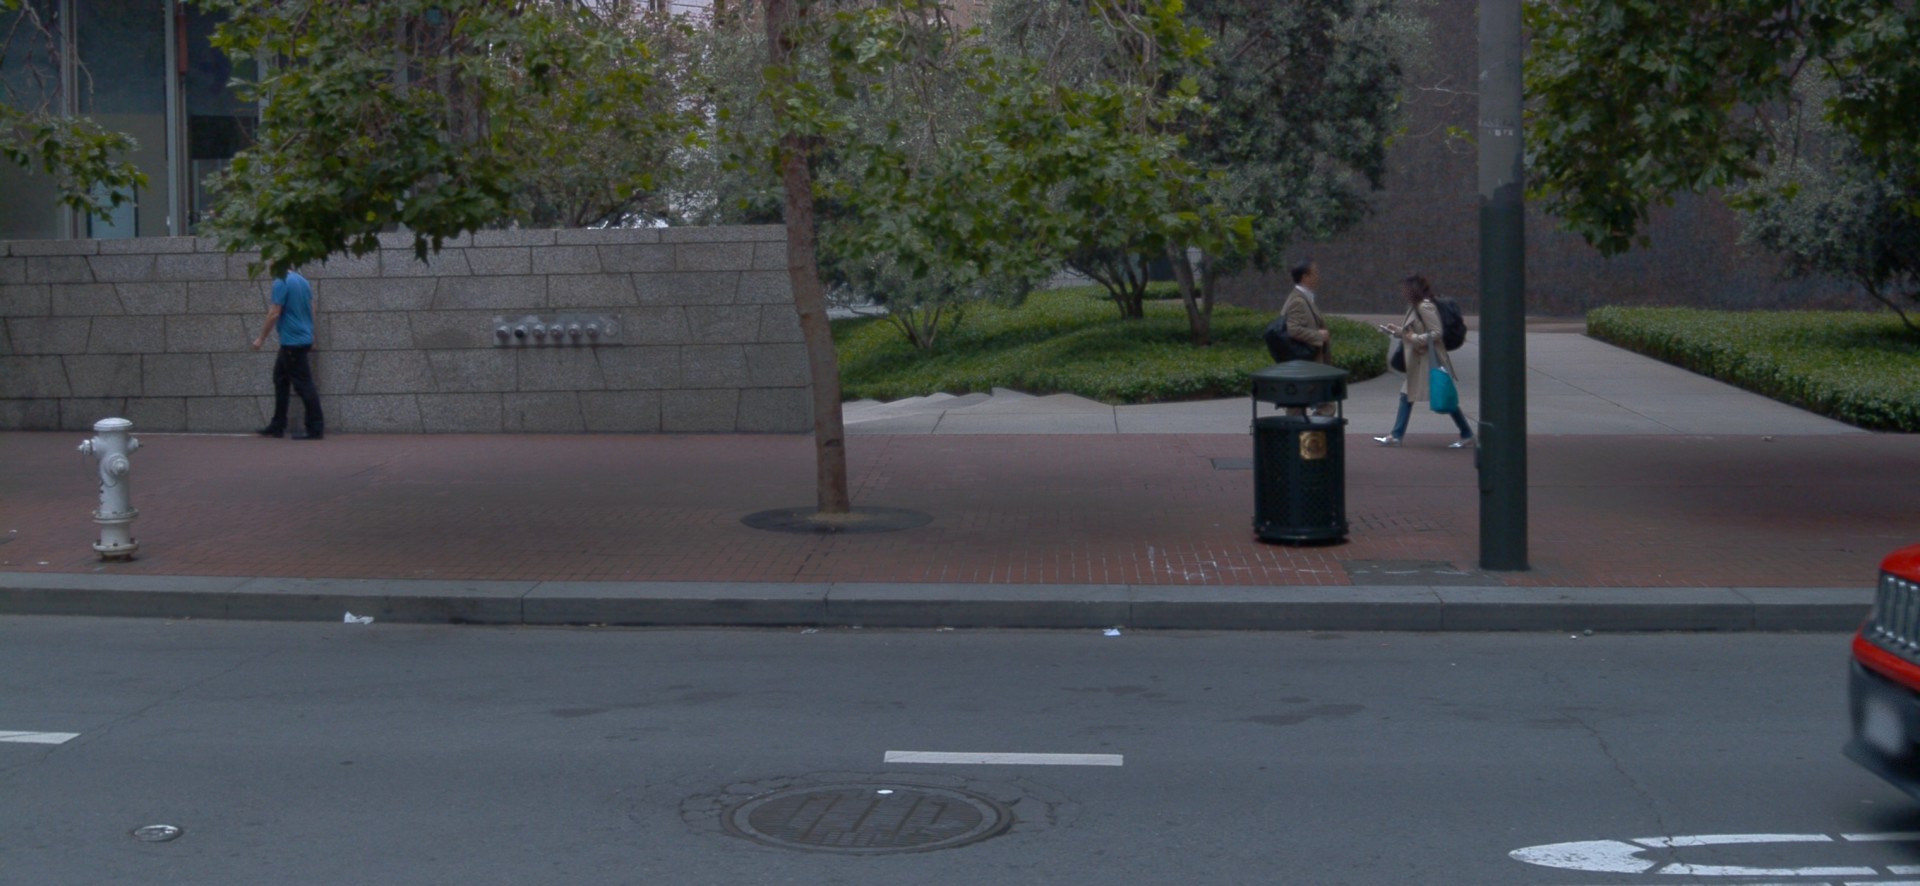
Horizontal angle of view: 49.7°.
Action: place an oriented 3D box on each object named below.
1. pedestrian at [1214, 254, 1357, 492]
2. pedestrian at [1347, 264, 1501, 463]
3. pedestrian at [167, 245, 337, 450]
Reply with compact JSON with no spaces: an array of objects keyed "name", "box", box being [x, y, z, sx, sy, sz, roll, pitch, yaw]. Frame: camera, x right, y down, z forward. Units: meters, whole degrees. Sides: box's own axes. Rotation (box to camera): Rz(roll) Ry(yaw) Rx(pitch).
[{"name":"pedestrian","box":[2.672,-0.610,17.123,1.098,1.877,1.032,0,2,5]},{"name":"pedestrian","box":[4.146,-0.742,18.605,1.145,1.697,1.149,0,3,2]},{"name":"pedestrian","box":[-6.789,-0.944,19.905,1.260,1.897,0.951,0,2,4]}]
